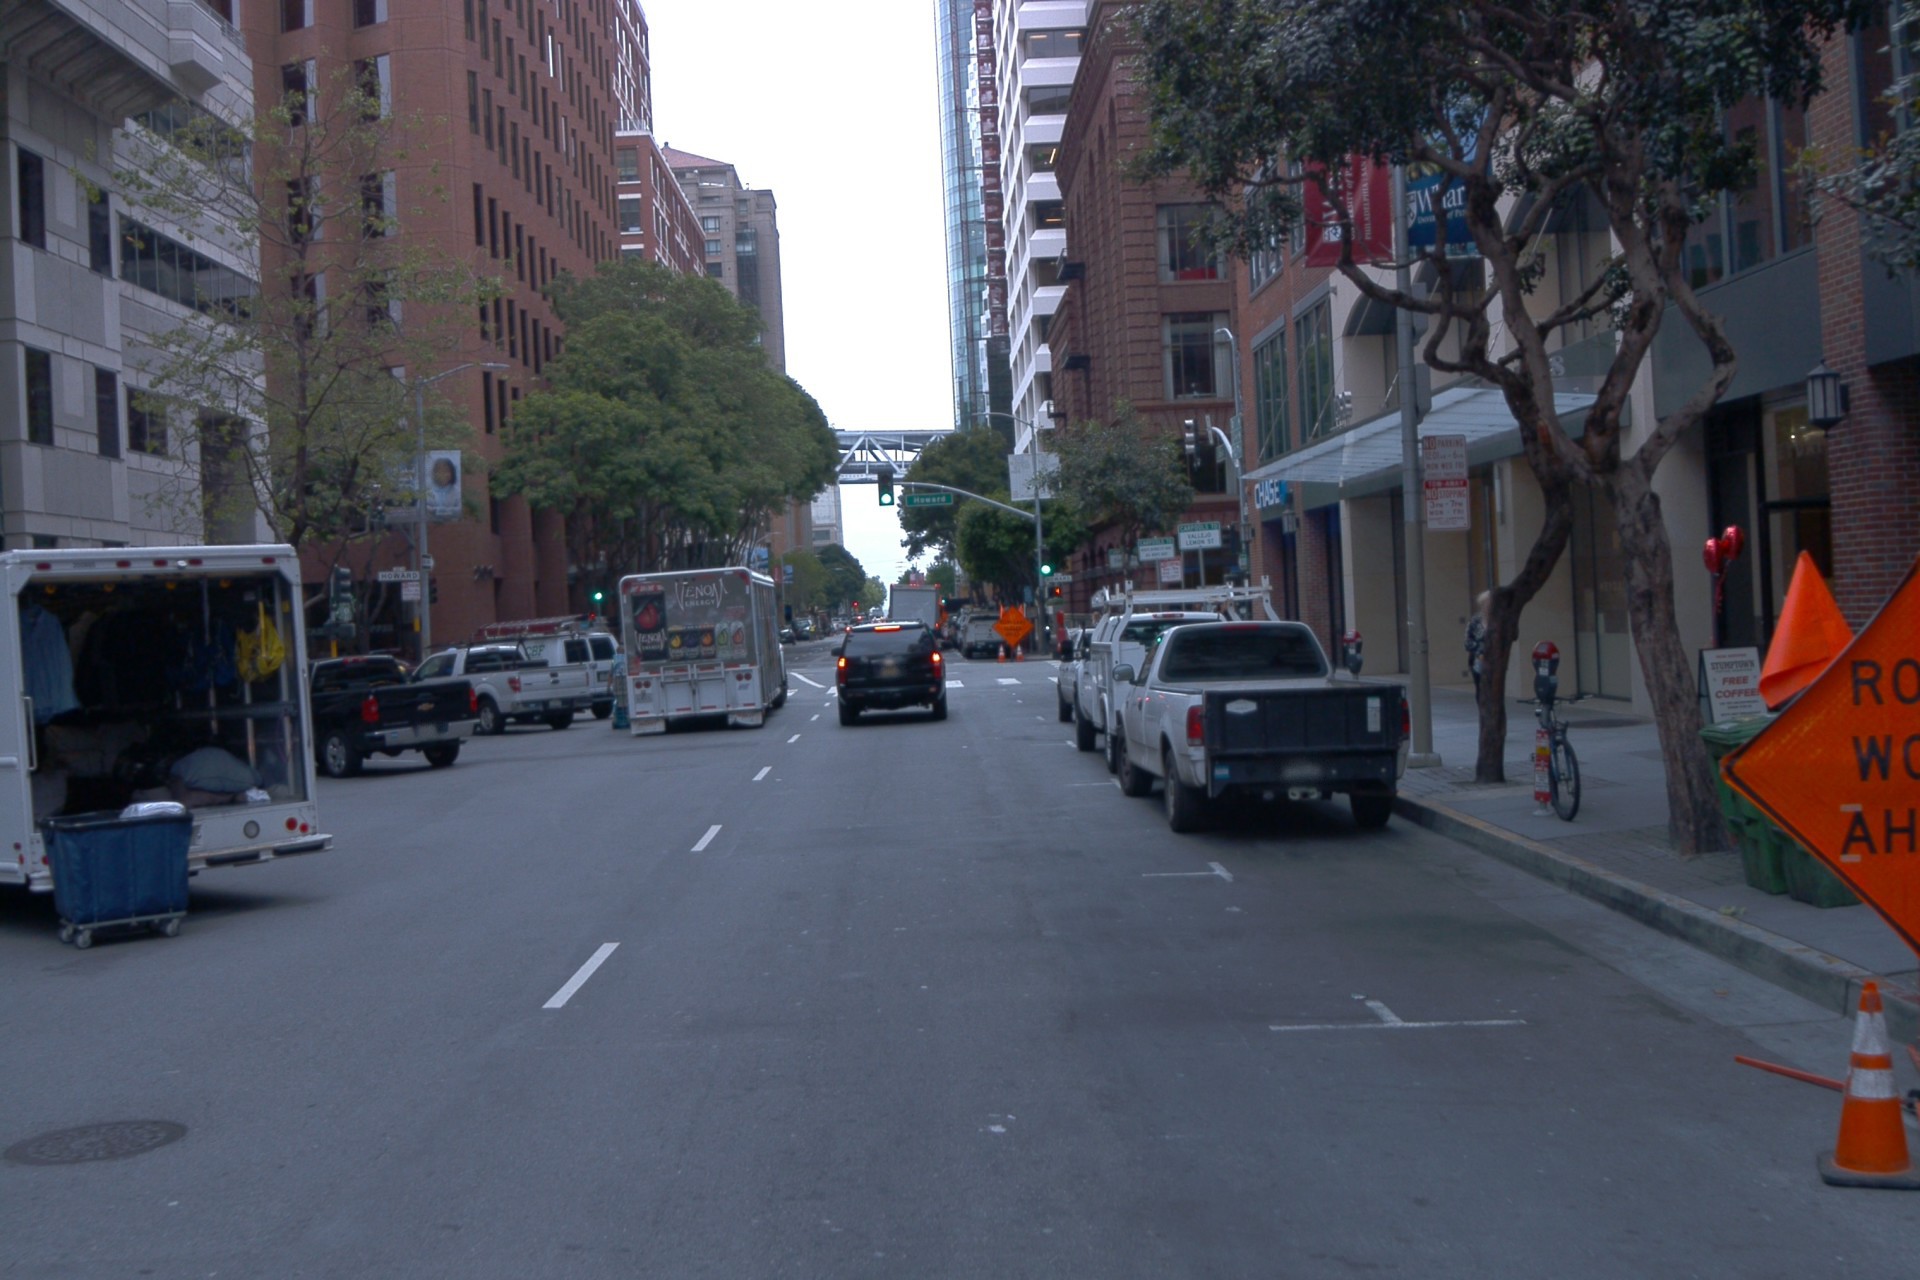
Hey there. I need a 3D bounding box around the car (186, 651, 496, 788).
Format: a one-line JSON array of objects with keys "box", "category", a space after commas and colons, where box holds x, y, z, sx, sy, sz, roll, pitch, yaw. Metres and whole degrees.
[{"box": [-10.051, 1.190, 33.119, 5.610, 1.940, 2.292, 0, 1, 44], "category": "car"}]

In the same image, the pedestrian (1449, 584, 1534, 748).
[{"box": [6.006, 0.280, 23.264, 0.735, 1.820, 0.912, 0, 1, 1], "category": "pedestrian"}]

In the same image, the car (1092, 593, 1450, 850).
[{"box": [2.745, 0.632, 19.790, 2.321, 2.100, 5.868, 0, 1, -2], "category": "car"}]

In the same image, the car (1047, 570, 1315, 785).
[{"box": [2.617, 0.377, 26.279, 2.553, 2.400, 6.424, 0, 1, -2], "category": "car"}]

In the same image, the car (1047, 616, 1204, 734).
[{"box": [2.641, 0.513, 33.891, 1.986, 1.790, 4.634, 0, 1, -3], "category": "car"}]
